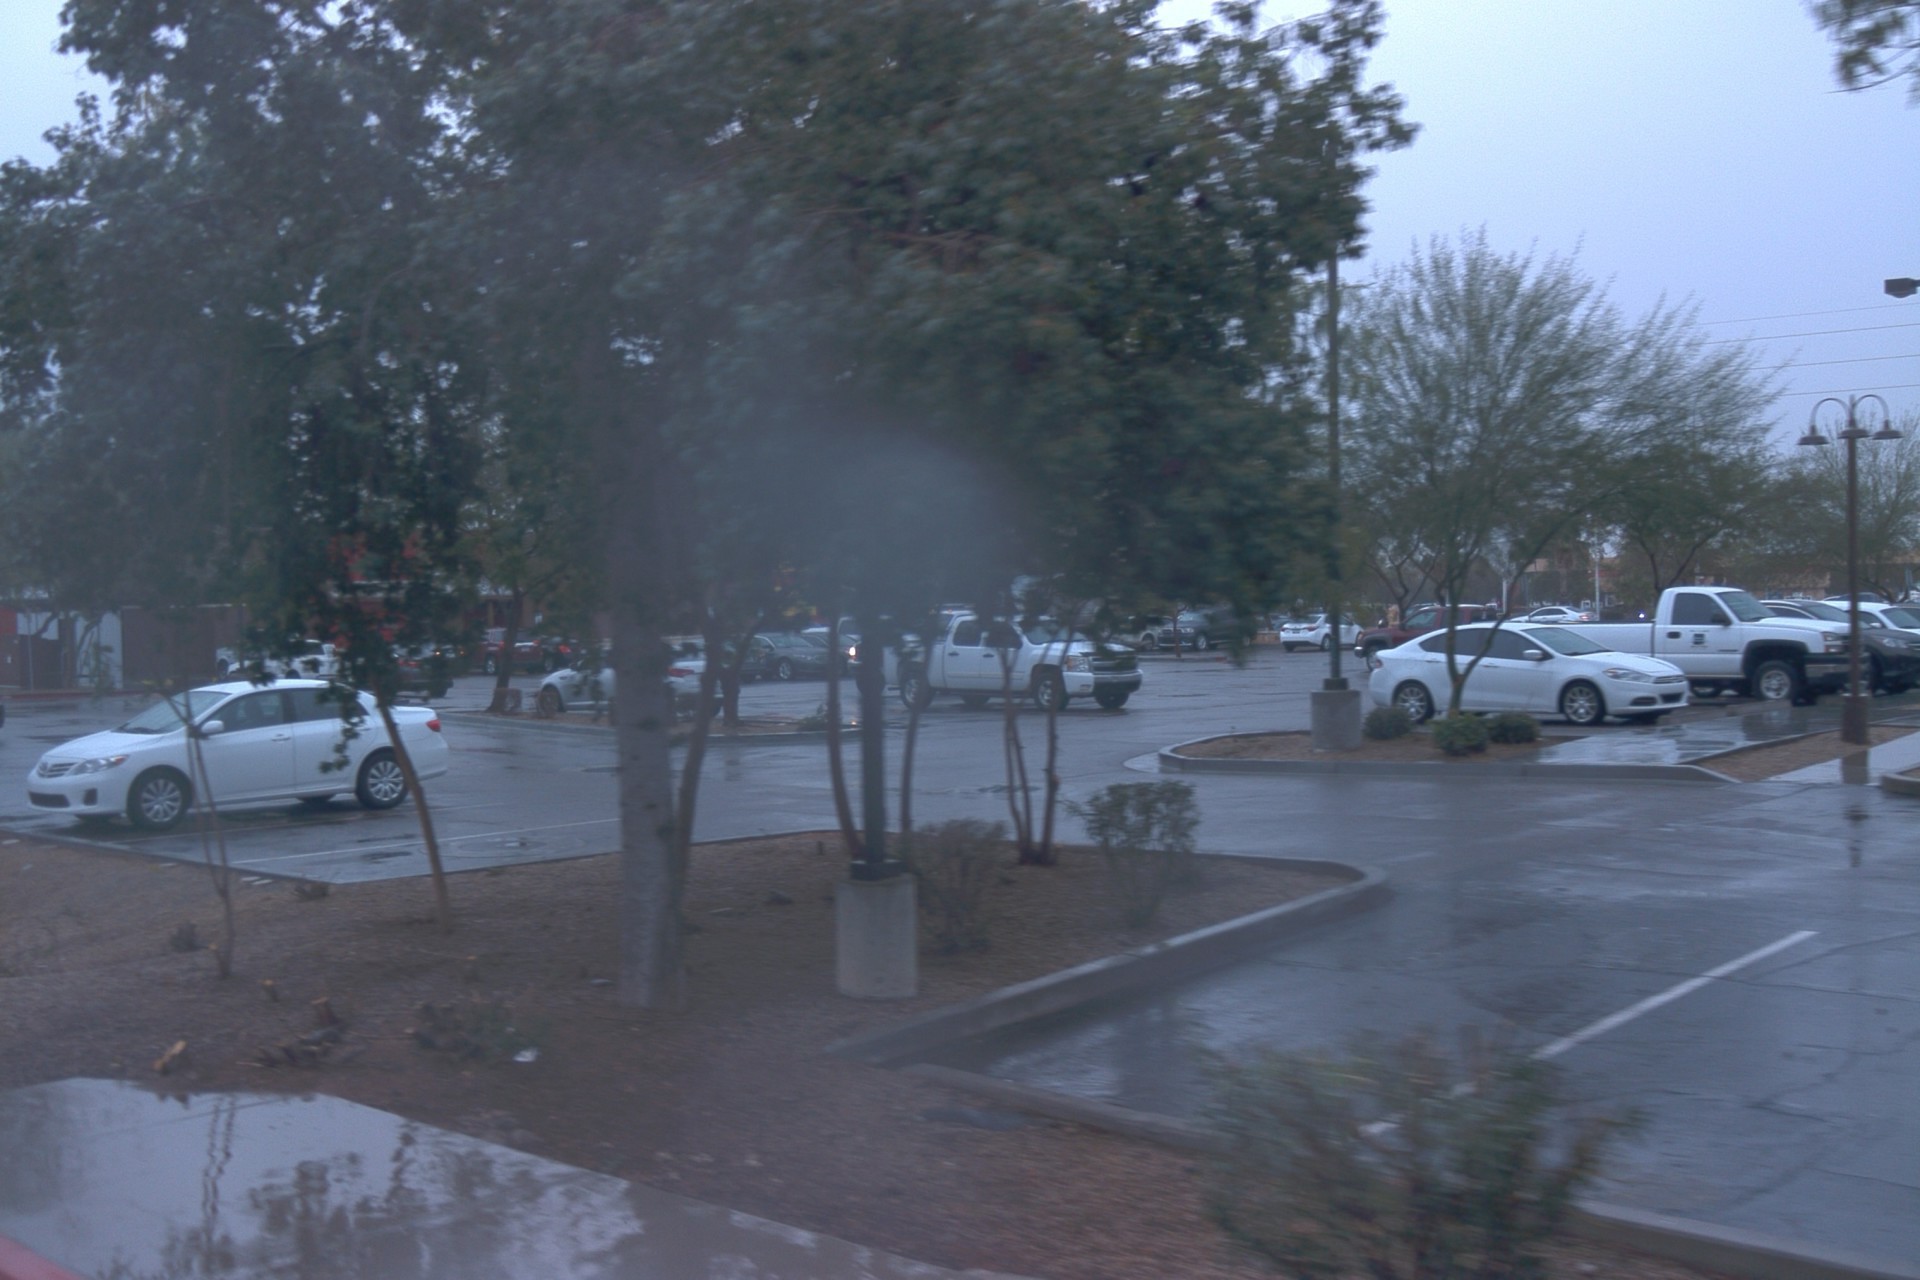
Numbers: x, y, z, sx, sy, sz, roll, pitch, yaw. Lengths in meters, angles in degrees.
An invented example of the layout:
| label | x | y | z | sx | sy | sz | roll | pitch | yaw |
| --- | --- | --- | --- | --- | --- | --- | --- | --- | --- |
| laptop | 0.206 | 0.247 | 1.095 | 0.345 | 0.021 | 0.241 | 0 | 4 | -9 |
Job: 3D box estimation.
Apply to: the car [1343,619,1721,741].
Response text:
| label | x | y | z | sx | sy | sz | roll | pitch | yaw |
| --- | --- | --- | --- | --- | --- | --- | --- | --- | --- |
| car | 8.174 | 0.551 | 30.092 | 2.183 | 1.620 | 4.816 | 0 | -1 | -44 |

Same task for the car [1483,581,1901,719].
| label | x | y | z | sx | sy | sz | roll | pitch | yaw |
| --- | --- | --- | --- | --- | --- | --- | --- | --- | --- |
| car | 11.681 | 0.175 | 33.525 | 5.888 | 2.030 | 2.355 | 0 | -1 | 40 |
